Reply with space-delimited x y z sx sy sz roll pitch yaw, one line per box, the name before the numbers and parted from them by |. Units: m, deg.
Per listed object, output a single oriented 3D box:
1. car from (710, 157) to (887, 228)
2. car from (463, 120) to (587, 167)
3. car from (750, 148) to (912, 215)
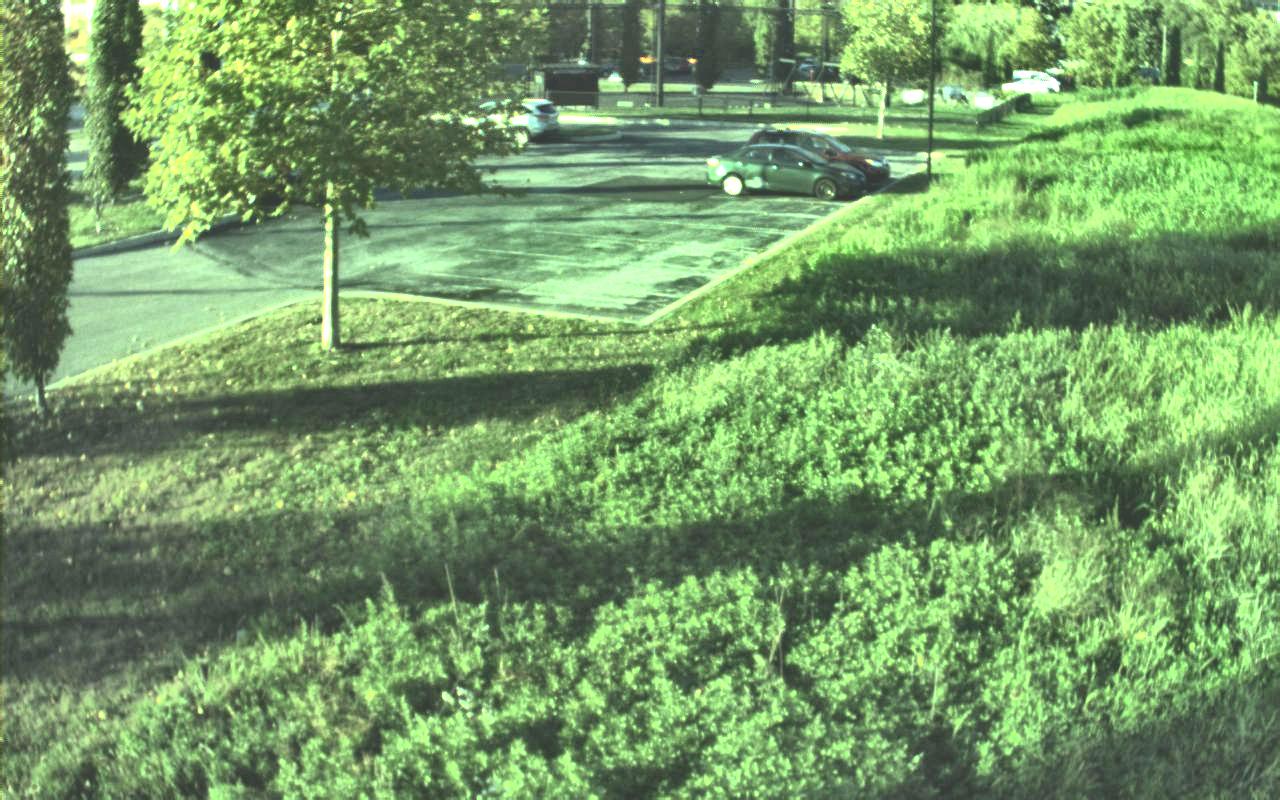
car | 4.484 -5.889 35.174 4.637 1.646 2.014 5 16 22
car | -4.595 -10.238 49.739 4.539 1.654 2.006 2 15 11
car | 5.764 -6.610 37.422 4.520 1.629 1.997 6 17 25
